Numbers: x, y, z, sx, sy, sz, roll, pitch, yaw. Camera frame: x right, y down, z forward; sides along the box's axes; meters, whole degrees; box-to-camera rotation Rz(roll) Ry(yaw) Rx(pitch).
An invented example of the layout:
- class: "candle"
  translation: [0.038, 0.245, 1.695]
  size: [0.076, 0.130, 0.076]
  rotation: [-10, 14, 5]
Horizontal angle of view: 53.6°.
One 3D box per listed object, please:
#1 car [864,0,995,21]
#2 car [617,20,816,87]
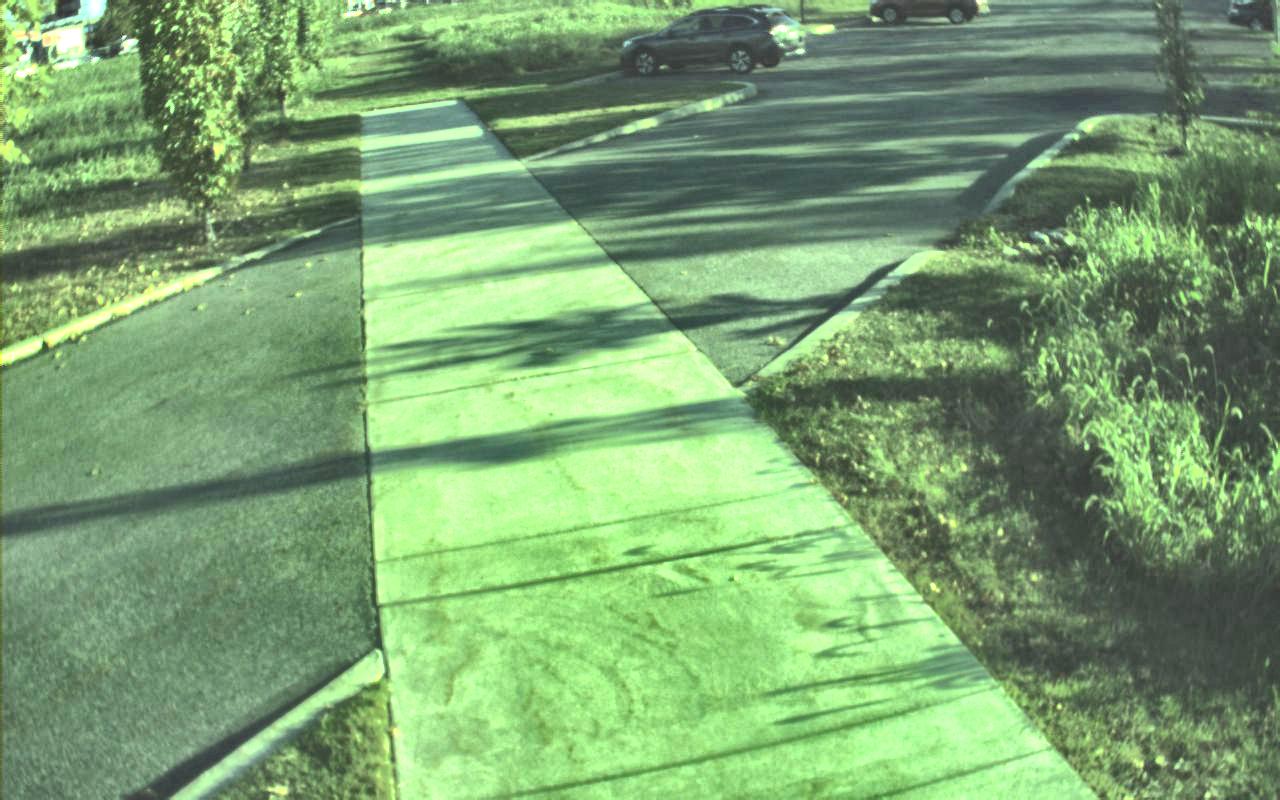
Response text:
- class: "car"
  translation: [11.079, -15.366, 45.590]
  size: [4.723, 1.665, 2.020]
  rotation: [7, 17, 26]
- class: "car"
  translation: [1.917, -8.788, 31.271]
  size: [4.658, 1.624, 2.009]
  rotation: [8, 18, 30]
